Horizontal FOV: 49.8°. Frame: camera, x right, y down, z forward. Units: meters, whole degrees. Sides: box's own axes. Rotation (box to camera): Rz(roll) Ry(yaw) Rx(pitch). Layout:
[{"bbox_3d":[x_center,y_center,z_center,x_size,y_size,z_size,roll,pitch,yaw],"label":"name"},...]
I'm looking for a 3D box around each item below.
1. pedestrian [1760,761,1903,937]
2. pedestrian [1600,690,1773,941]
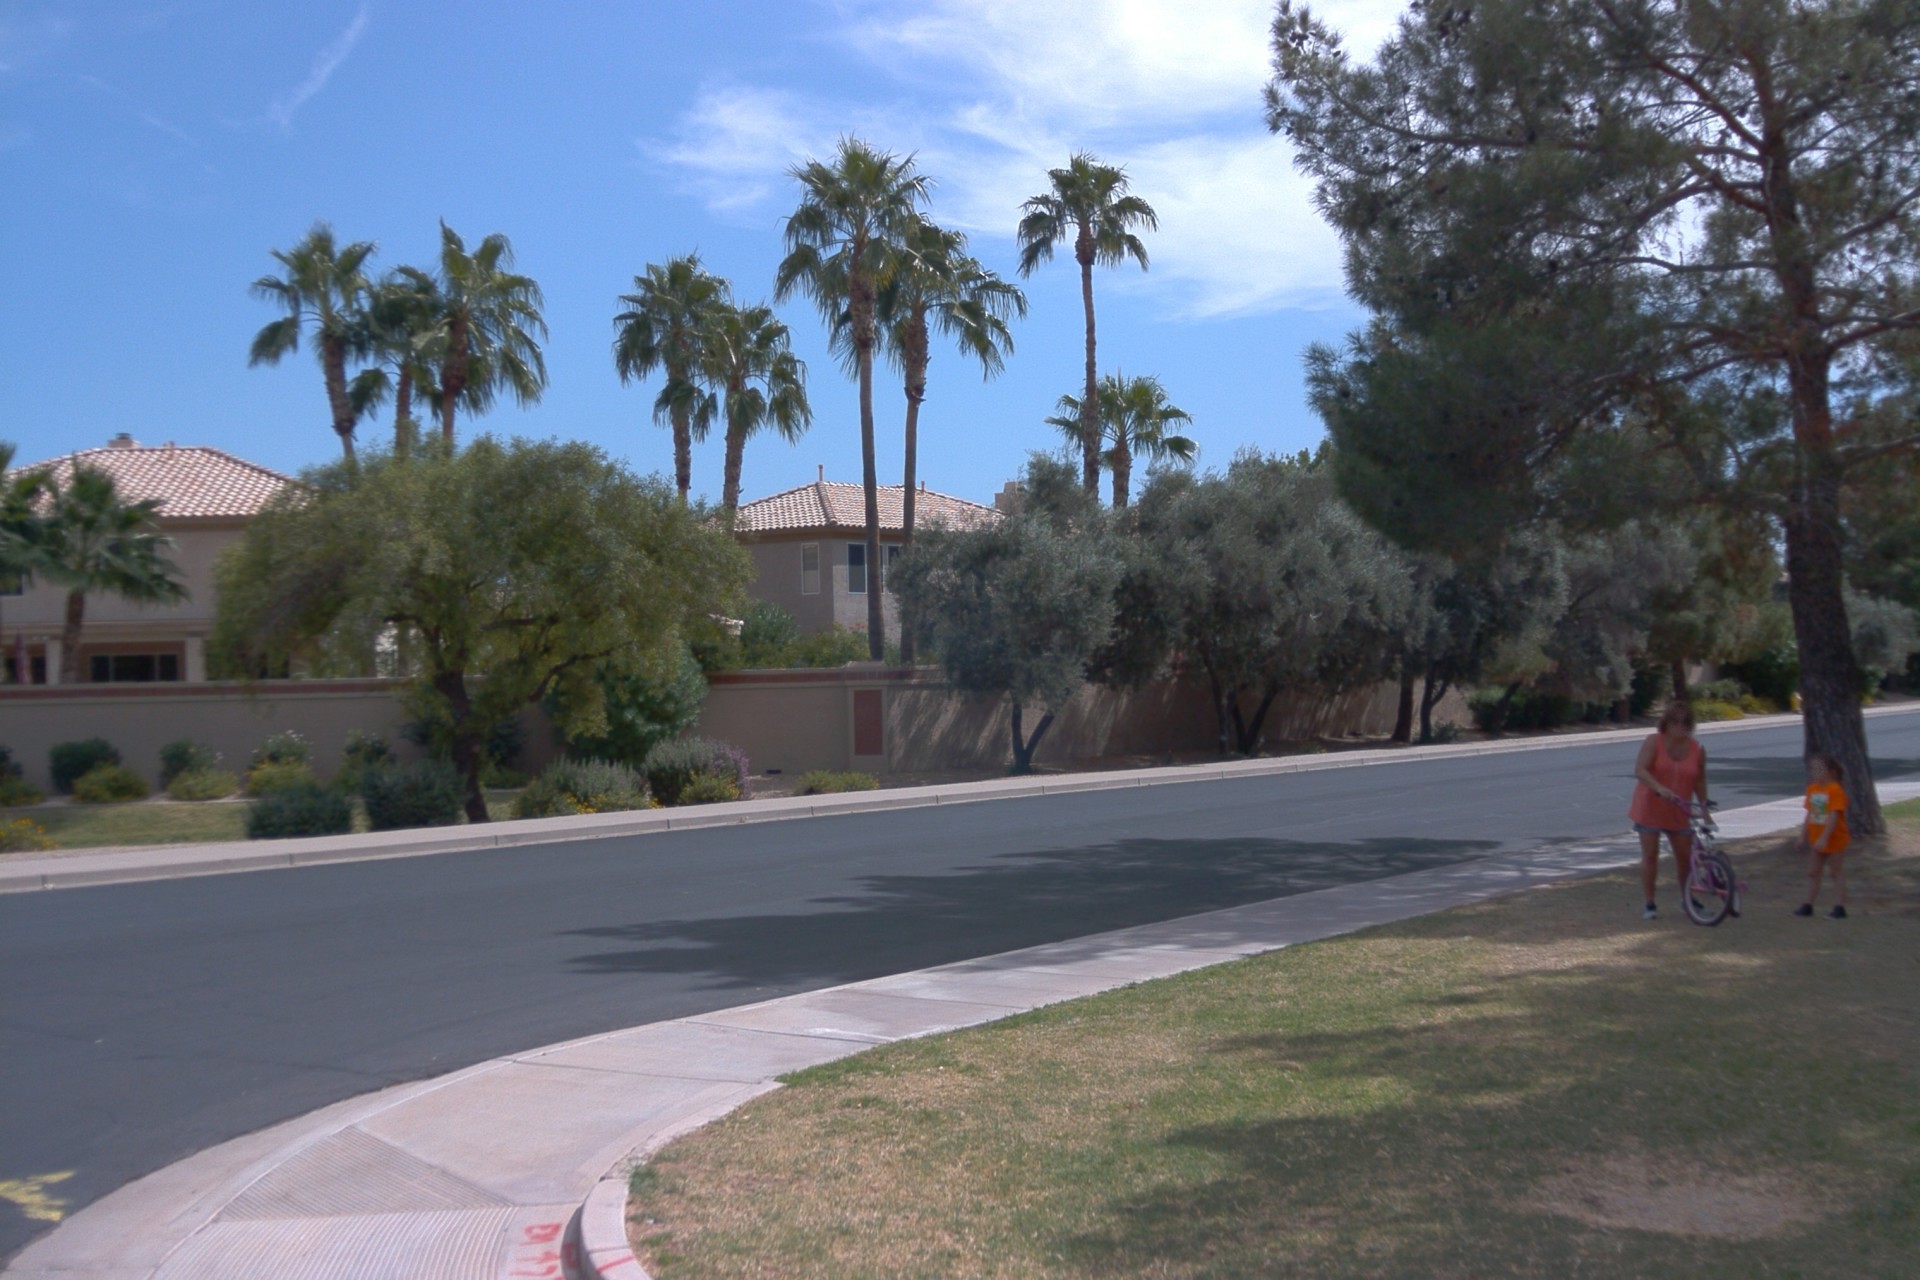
[{"bbox_3d":[6.263,1.483,14.878,0.593,1.180,0.737,1,-1,-29],"label":"pedestrian"},{"bbox_3d":[5.196,1.229,14.849,0.894,1.720,1.037,0,-1,2],"label":"pedestrian"}]
